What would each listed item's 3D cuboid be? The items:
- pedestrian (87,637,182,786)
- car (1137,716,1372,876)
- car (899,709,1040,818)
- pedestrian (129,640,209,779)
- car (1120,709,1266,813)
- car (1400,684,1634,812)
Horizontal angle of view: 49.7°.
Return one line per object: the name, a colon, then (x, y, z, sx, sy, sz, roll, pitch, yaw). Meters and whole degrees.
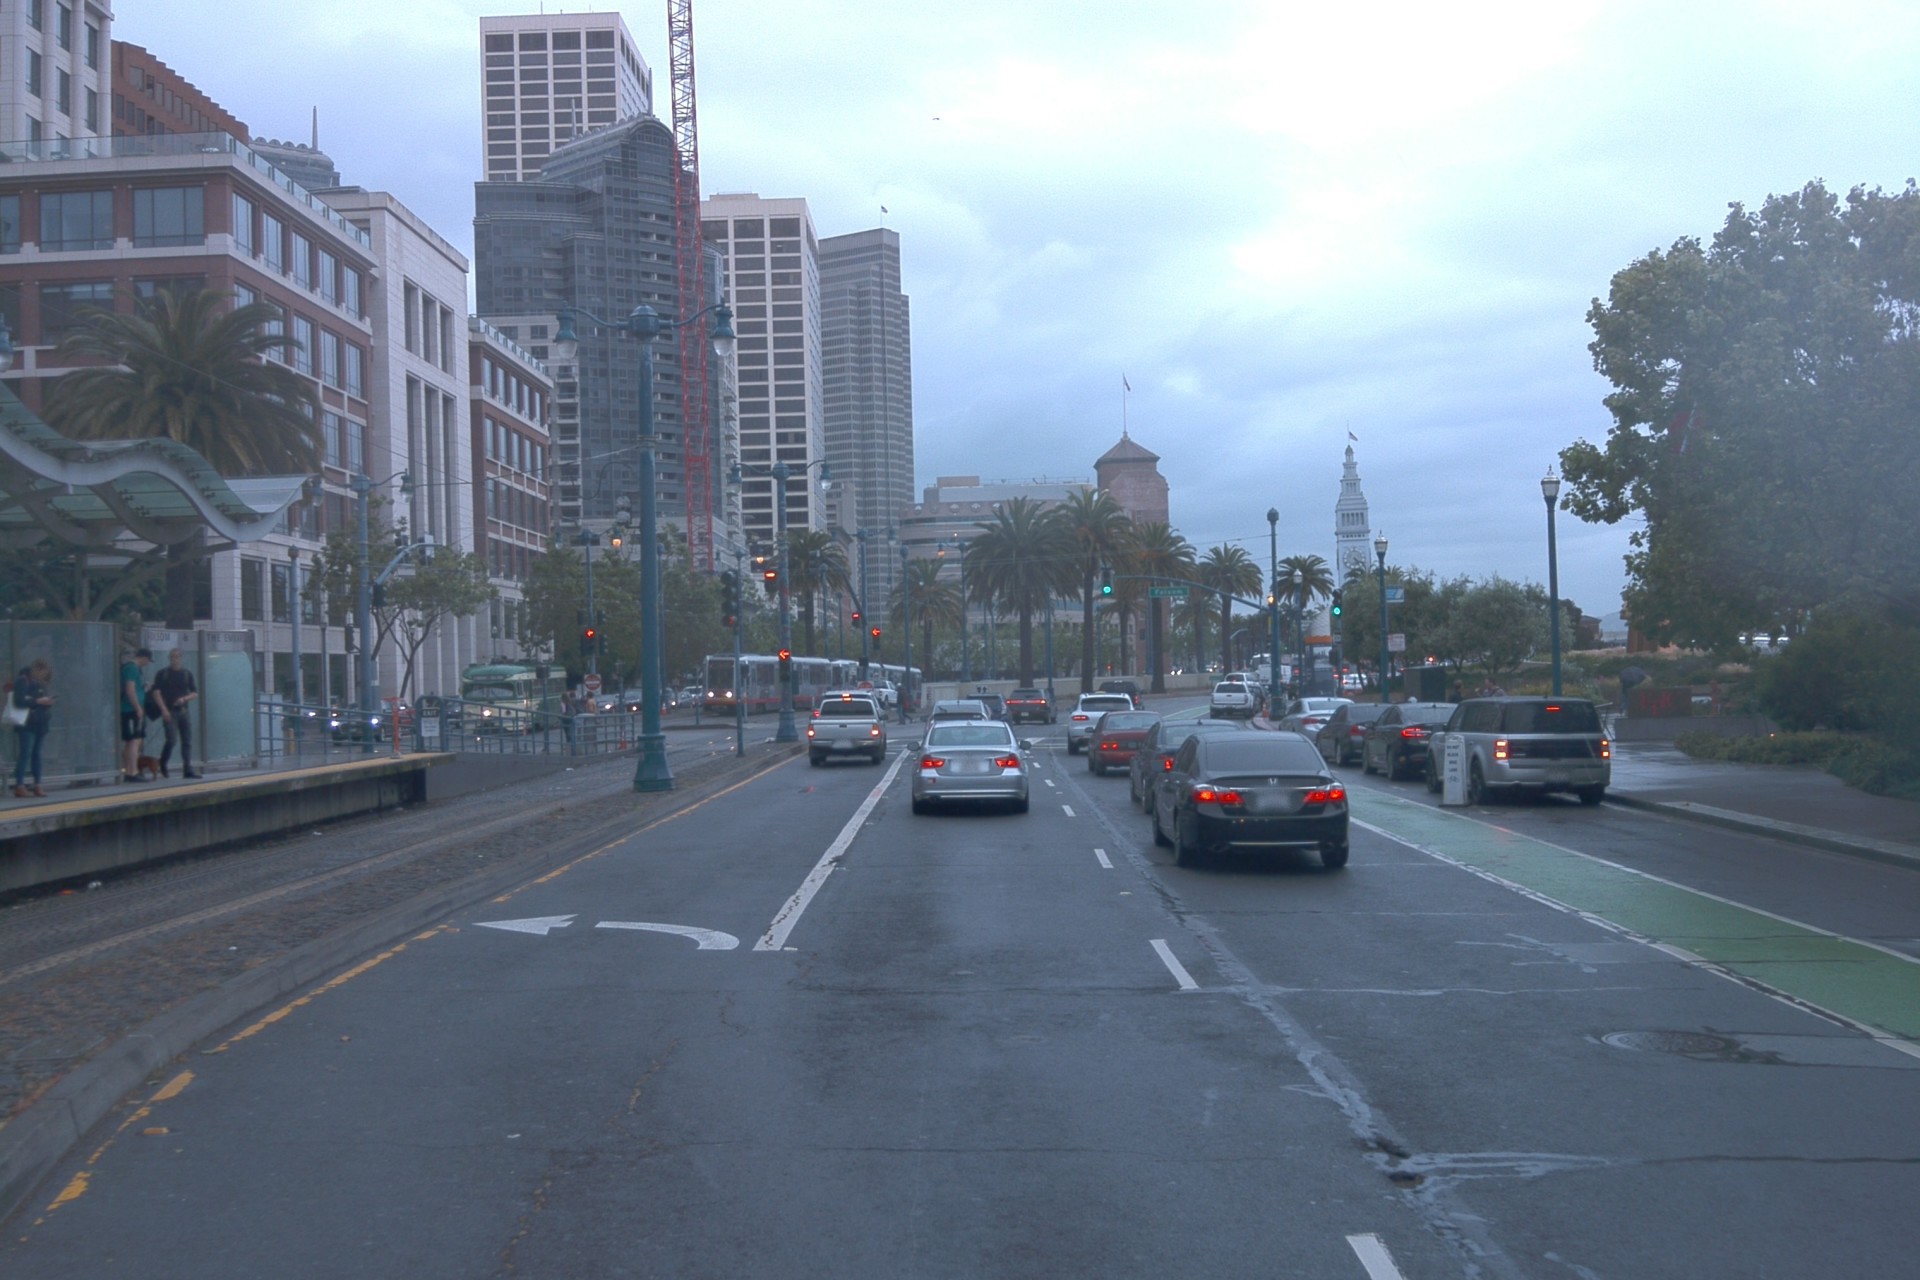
pedestrian: (-11.078, 0.953, 27.833, 0.891, 1.960, 0.835, -1, -1, 34)
car: (3.241, 1.694, 23.728, 2.069, 1.540, 4.627, 0, -1, 1)
car: (0.154, 1.891, 32.809, 2.067, 1.510, 4.625, 0, -1, 0)
pedestrian: (-11.001, 0.958, 28.834, 0.893, 1.890, 0.896, 0, -1, -31)
car: (3.582, 1.843, 32.533, 1.869, 1.450, 4.344, 0, -1, 1)
car: (8.956, 1.685, 33.883, 2.331, 1.890, 5.290, 0, -1, -1)
